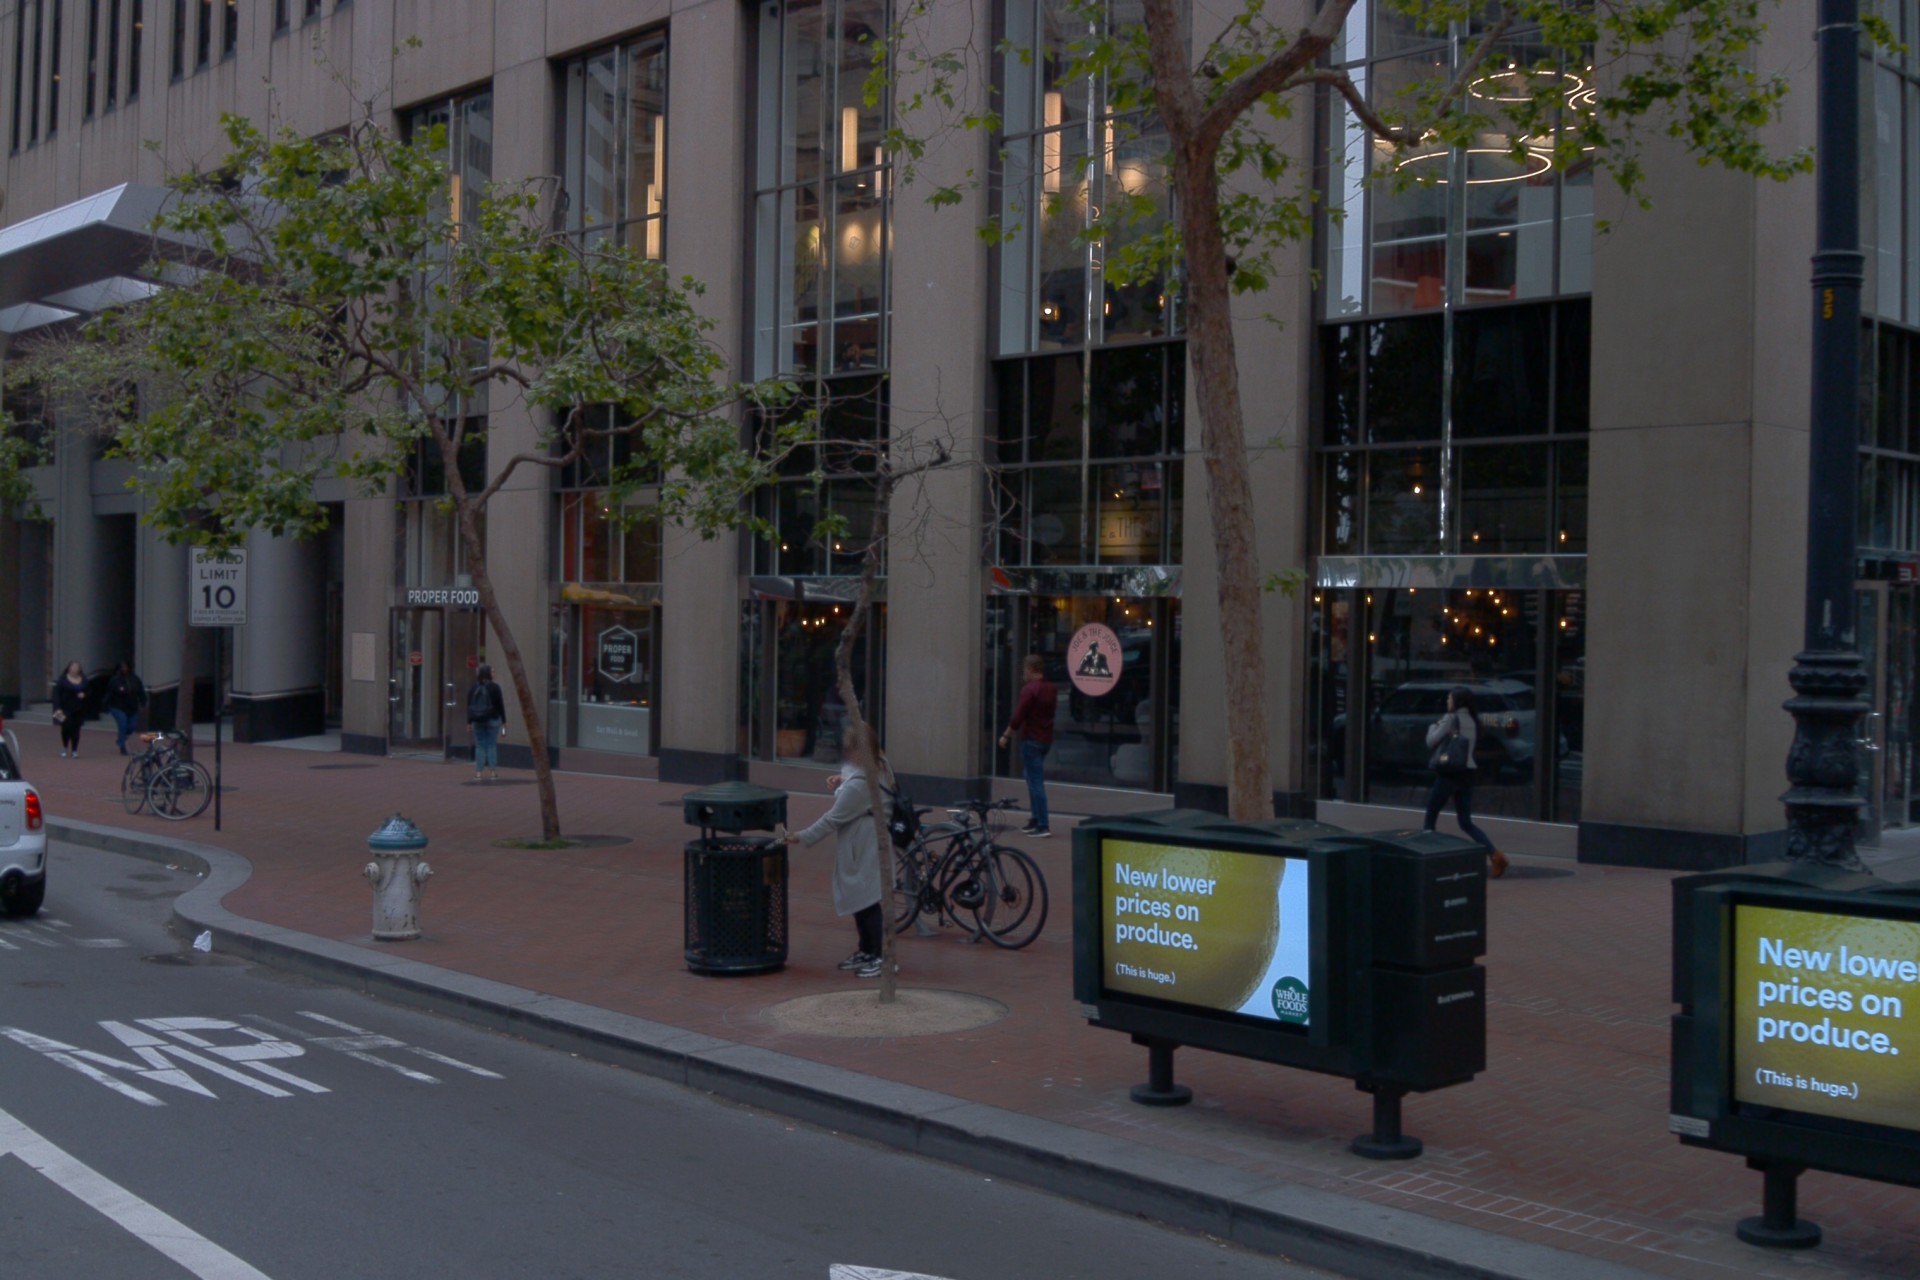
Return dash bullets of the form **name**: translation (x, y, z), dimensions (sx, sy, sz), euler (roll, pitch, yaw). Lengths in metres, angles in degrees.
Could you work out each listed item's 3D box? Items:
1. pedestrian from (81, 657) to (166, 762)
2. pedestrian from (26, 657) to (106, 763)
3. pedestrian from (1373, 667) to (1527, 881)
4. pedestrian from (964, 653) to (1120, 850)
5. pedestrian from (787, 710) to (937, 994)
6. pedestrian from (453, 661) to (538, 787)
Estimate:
- **pedestrian**: translation (-14.049, 1.143, 34.407), dimensions (0.901, 1.700, 1.319), euler (0, 0, -43)
- **pedestrian**: translation (-14.757, 1.140, 33.811), dimensions (0.894, 1.710, 1.015), euler (0, 0, -45)
- **pedestrian**: translation (4.127, 1.094, 17.258), dimensions (0.942, 1.710, 0.897), euler (0, 0, 42)
- **pedestrian**: translation (0.824, 1.092, 20.745), dimensions (0.944, 1.910, 1.272), euler (0, 0, -45)
- **pedestrian**: translation (-0.639, 1.308, 12.973), dimensions (0.914, 1.700, 0.907), euler (0, 0, -5)
- **pedestrian**: translation (-6.511, 1.155, 28.719), dimensions (0.846, 1.710, 0.984), euler (0, 0, -35)
